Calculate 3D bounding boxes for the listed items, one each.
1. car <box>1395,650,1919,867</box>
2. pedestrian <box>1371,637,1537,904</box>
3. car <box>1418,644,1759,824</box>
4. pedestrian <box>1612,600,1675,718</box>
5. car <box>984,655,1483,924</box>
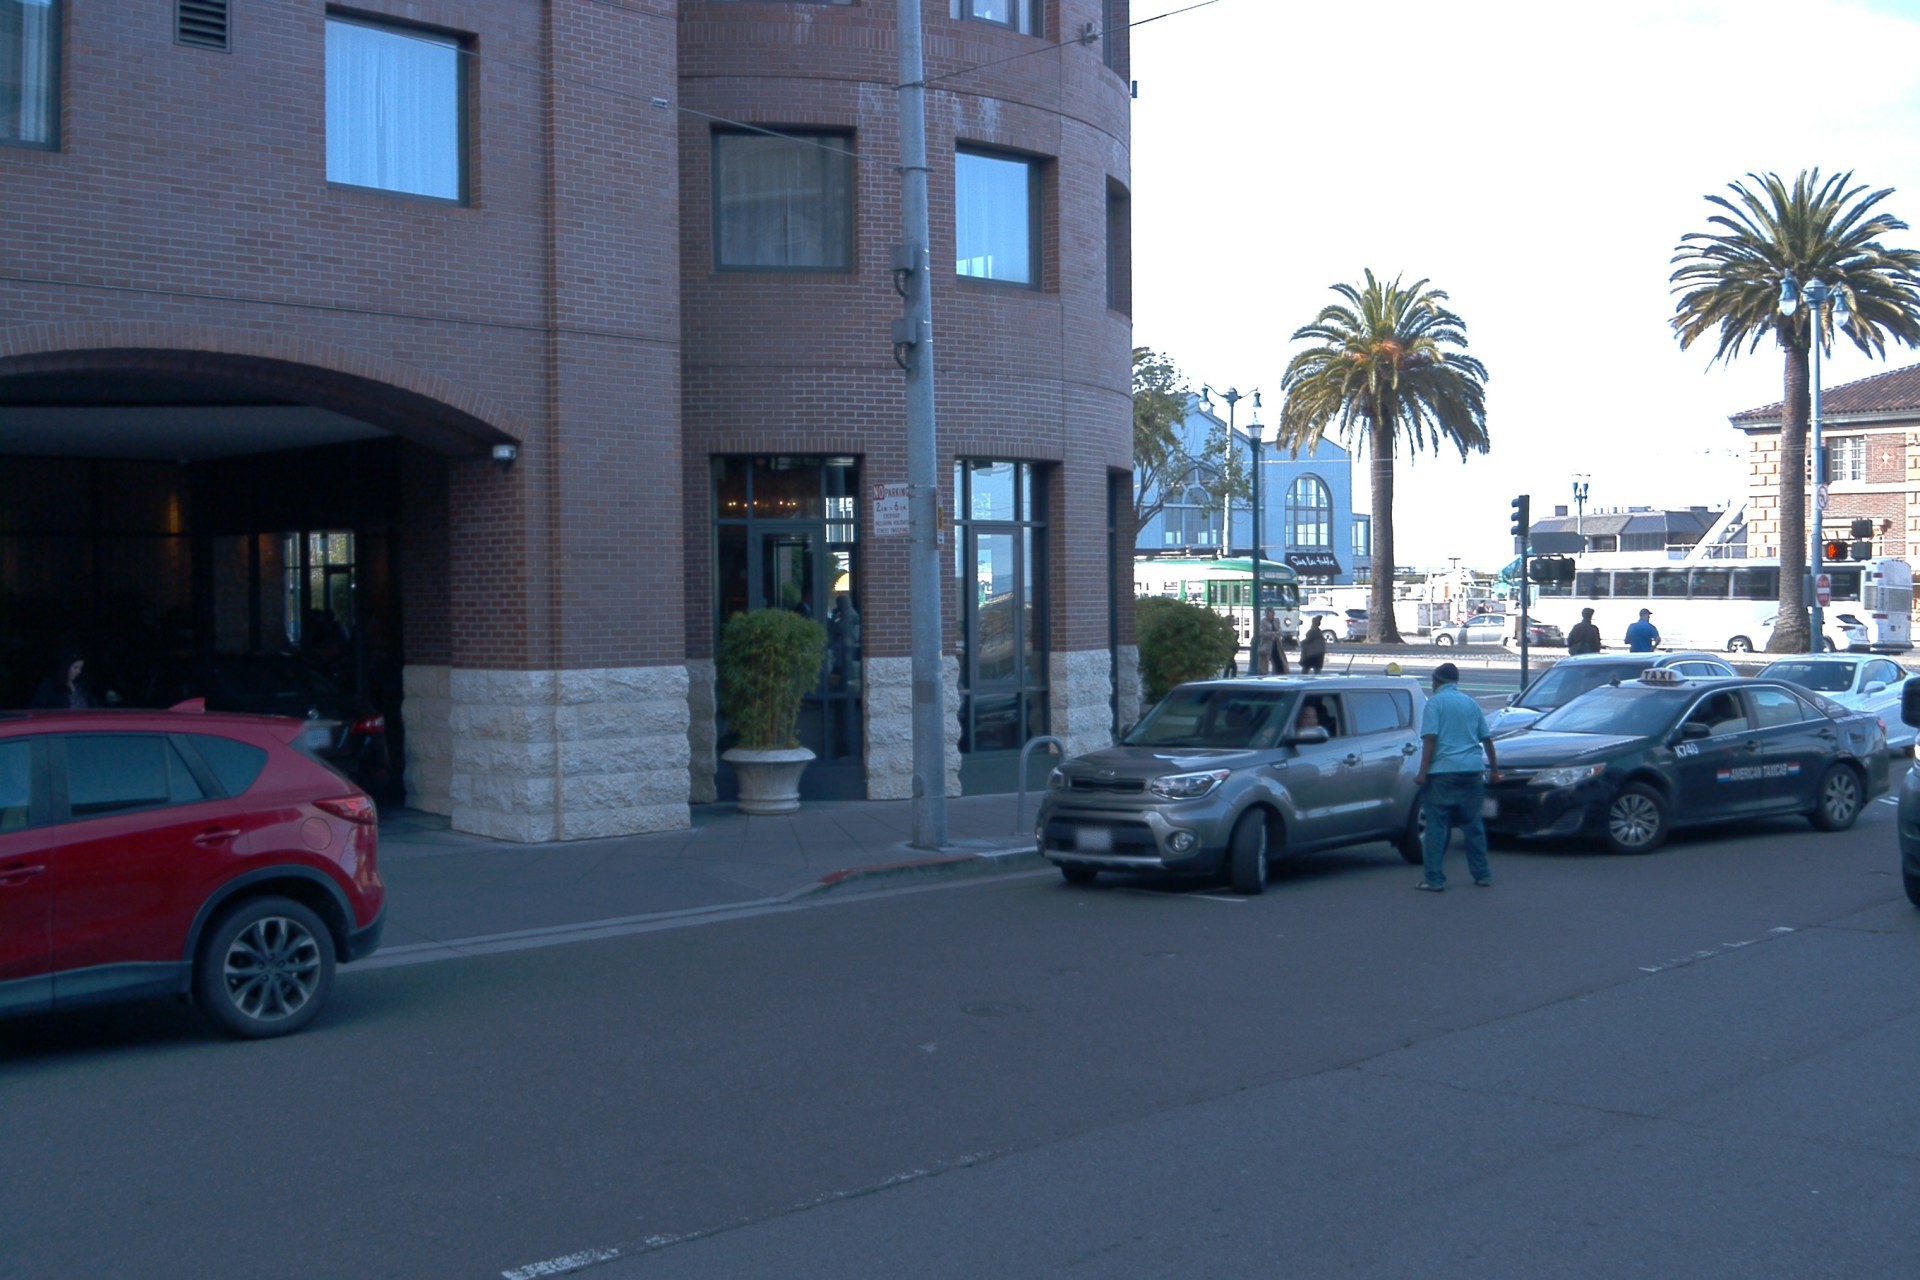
[{"bbox_3d":[6.461,0.977,18.984,4.715,1.695,2.052,-1,1,-32],"label":"car"},{"bbox_3d":[3.748,0.958,15.717,0.932,1.950,0.907,0,1,-11],"label":"pedestrian"},{"bbox_3d":[6.830,0.933,22.231,4.036,1.705,1.634,-1,1,-41],"label":"car"},{"bbox_3d":[11.679,0.311,35.268,0.970,1.972,0.948,0,1,21],"label":"pedestrian"},{"bbox_3d":[2.318,1.066,16.698,2.002,1.787,4.174,1,1,42],"label":"car"}]
